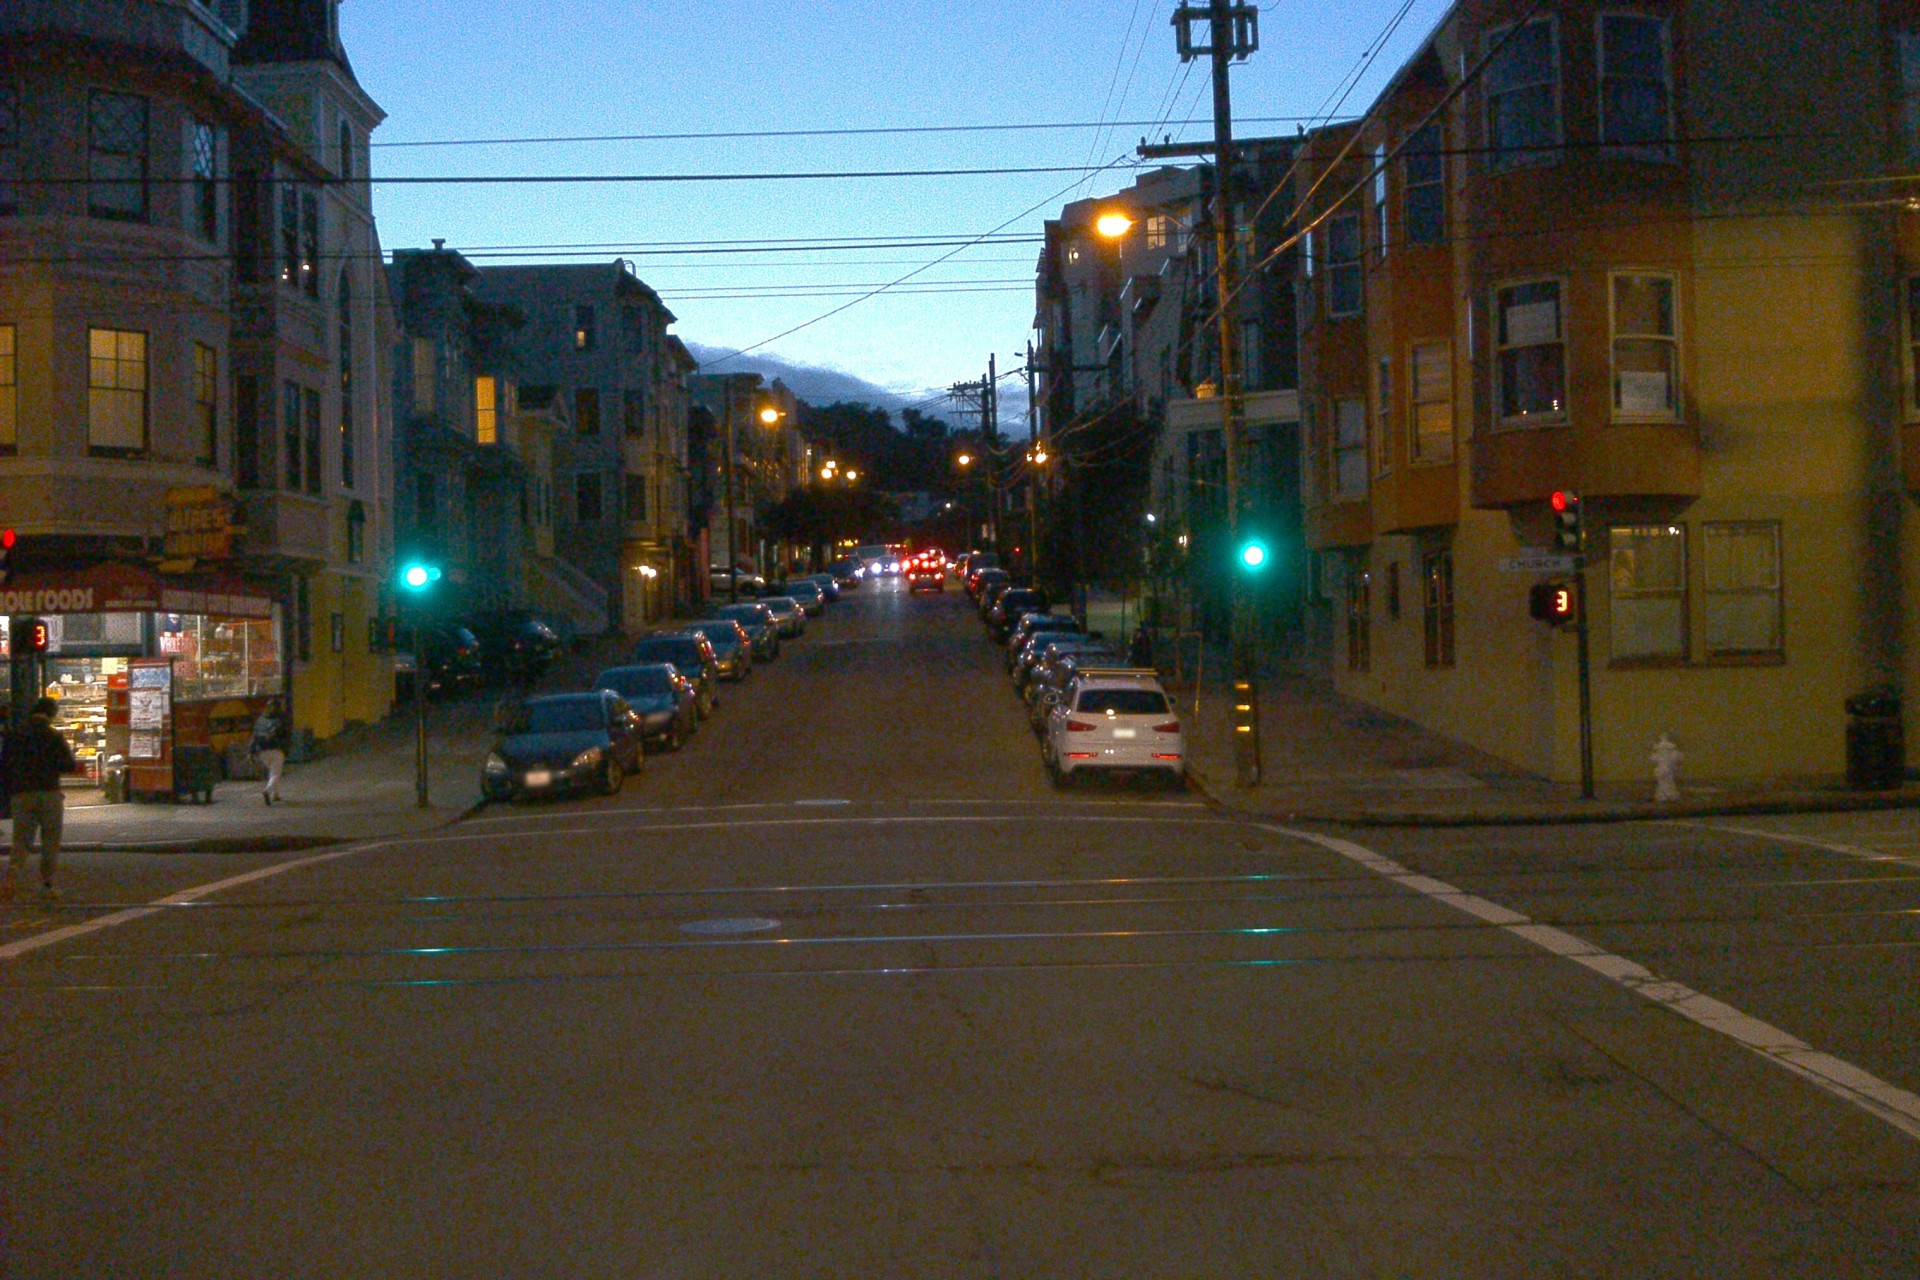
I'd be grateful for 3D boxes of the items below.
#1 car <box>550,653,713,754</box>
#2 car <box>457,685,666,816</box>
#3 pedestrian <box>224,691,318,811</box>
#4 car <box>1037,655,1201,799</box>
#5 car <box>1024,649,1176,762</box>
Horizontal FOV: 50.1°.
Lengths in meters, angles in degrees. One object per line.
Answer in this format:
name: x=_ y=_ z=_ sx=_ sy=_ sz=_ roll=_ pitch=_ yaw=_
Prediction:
car: x=-5.844 y=1.078 z=37.172 sx=2.268 sy=1.580 sz=4.961 roll=0 pitch=1 yaw=-1
car: x=-5.885 y=1.588 z=30.980 sx=2.208 sy=1.630 sz=4.906 roll=0 pitch=1 yaw=0
pedestrian: x=-9.775 y=1.562 z=29.189 sx=0.924 sy=1.640 sz=0.886 roll=0 pitch=1 yaw=13
car: x=2.277 y=1.221 z=30.582 sx=2.080 sy=1.878 sz=4.448 roll=0 pitch=1 yaw=0
car: x=2.335 y=1.064 z=35.581 sx=2.060 sy=1.700 sz=4.833 roll=0 pitch=1 yaw=-3
